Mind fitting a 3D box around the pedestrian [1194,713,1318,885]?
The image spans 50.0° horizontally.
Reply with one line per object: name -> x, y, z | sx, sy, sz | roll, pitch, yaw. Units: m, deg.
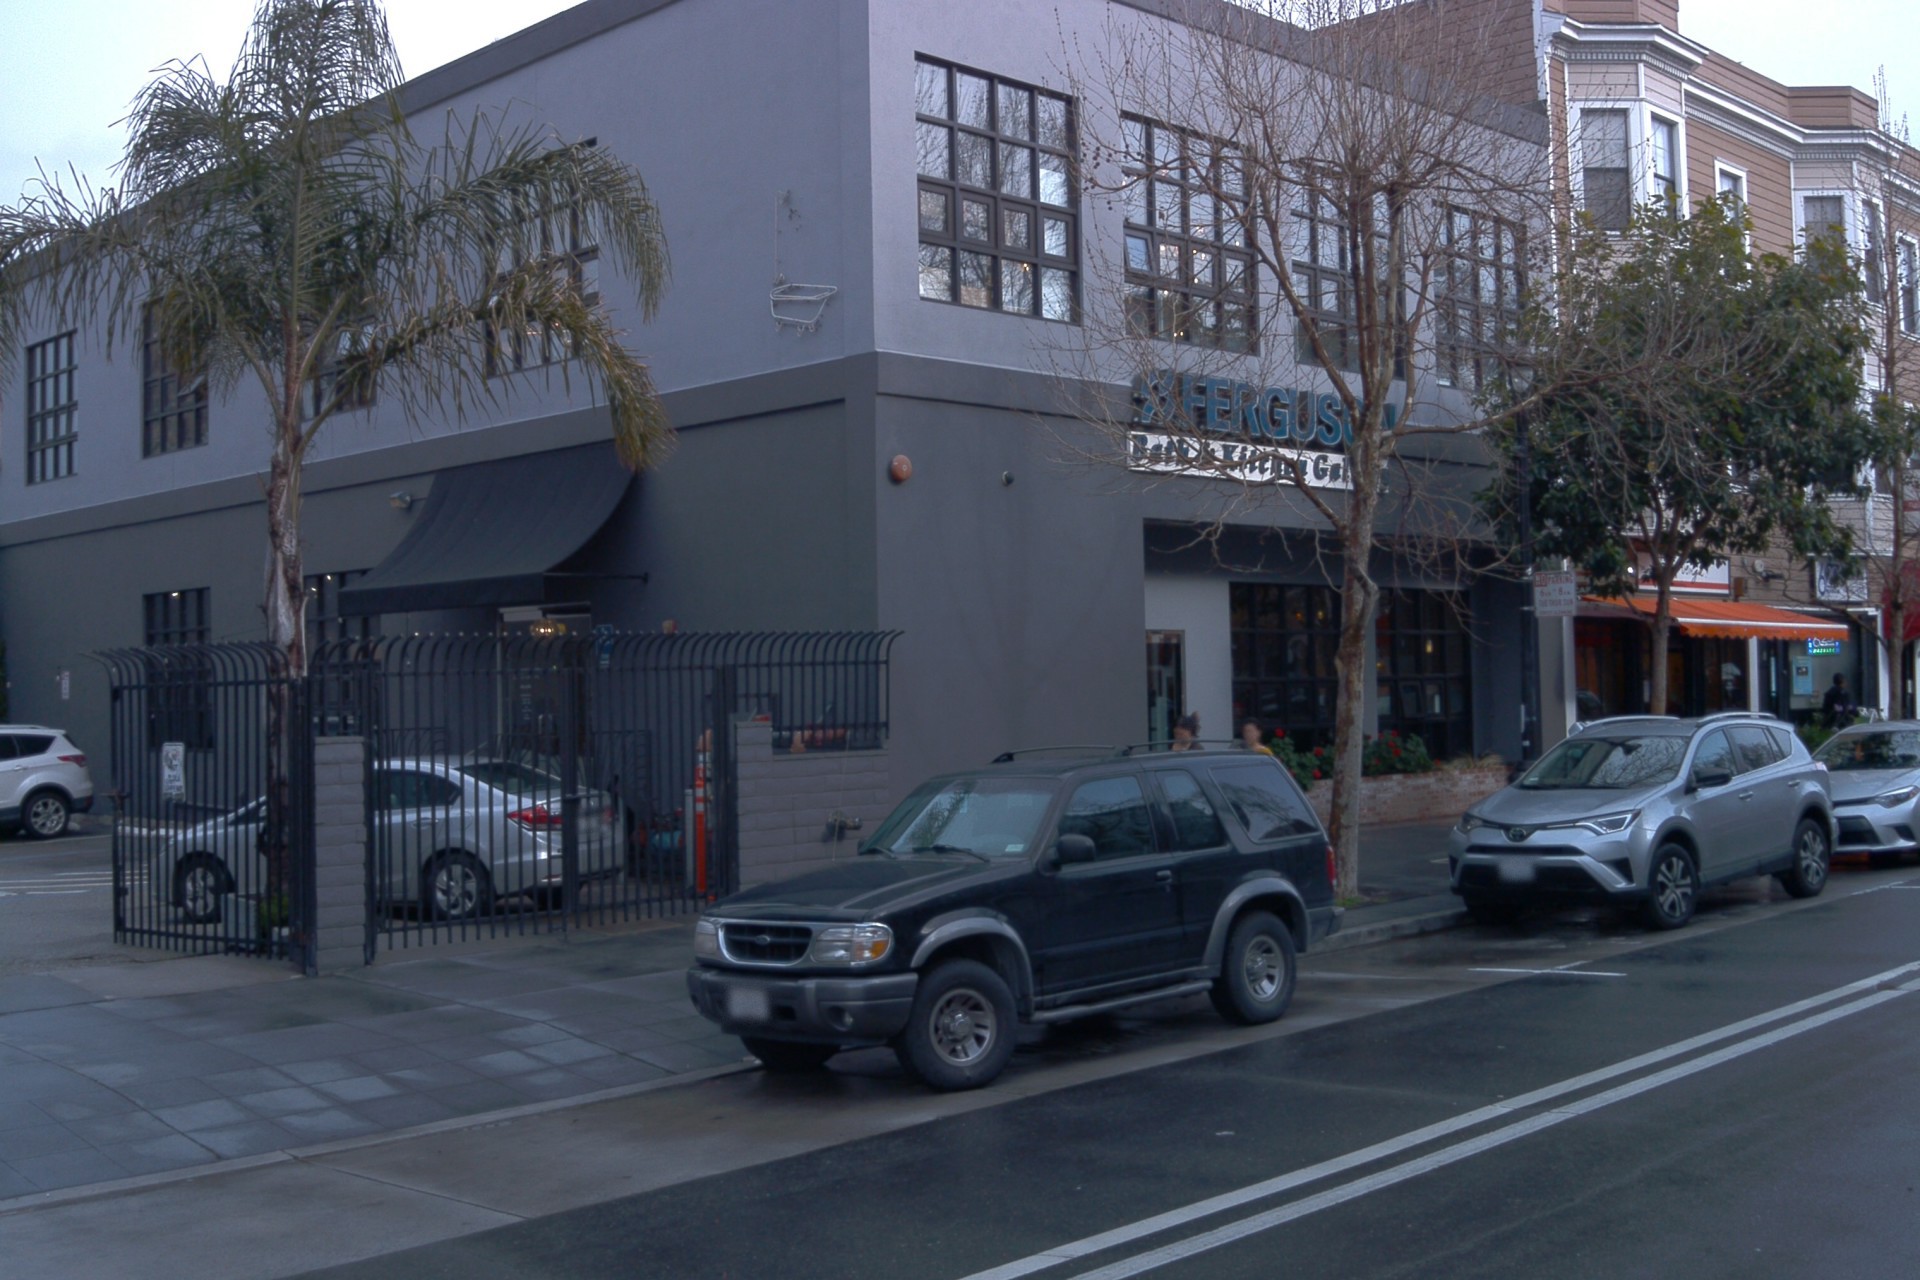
pedestrian -> 2.900, 1.536, 20.139 | 0.793, 1.570, 0.933 | 1, 1, 44

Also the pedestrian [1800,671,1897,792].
pedestrian -> 13.519, 1.366, 31.282 | 0.998, 1.756, 1.181 | 1, 1, 43

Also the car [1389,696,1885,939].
car -> 6.015, 1.413, 17.987 | 4.598, 1.640, 2.200 | -1, 1, -44

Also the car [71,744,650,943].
car -> -5.302, 1.726, 18.279 | 4.659, 1.380, 1.941 | 0, 1, 18

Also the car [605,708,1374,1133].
car -> 0.352, 1.459, 12.487 | 2.064, 1.870, 4.604 | 1, 1, 44
